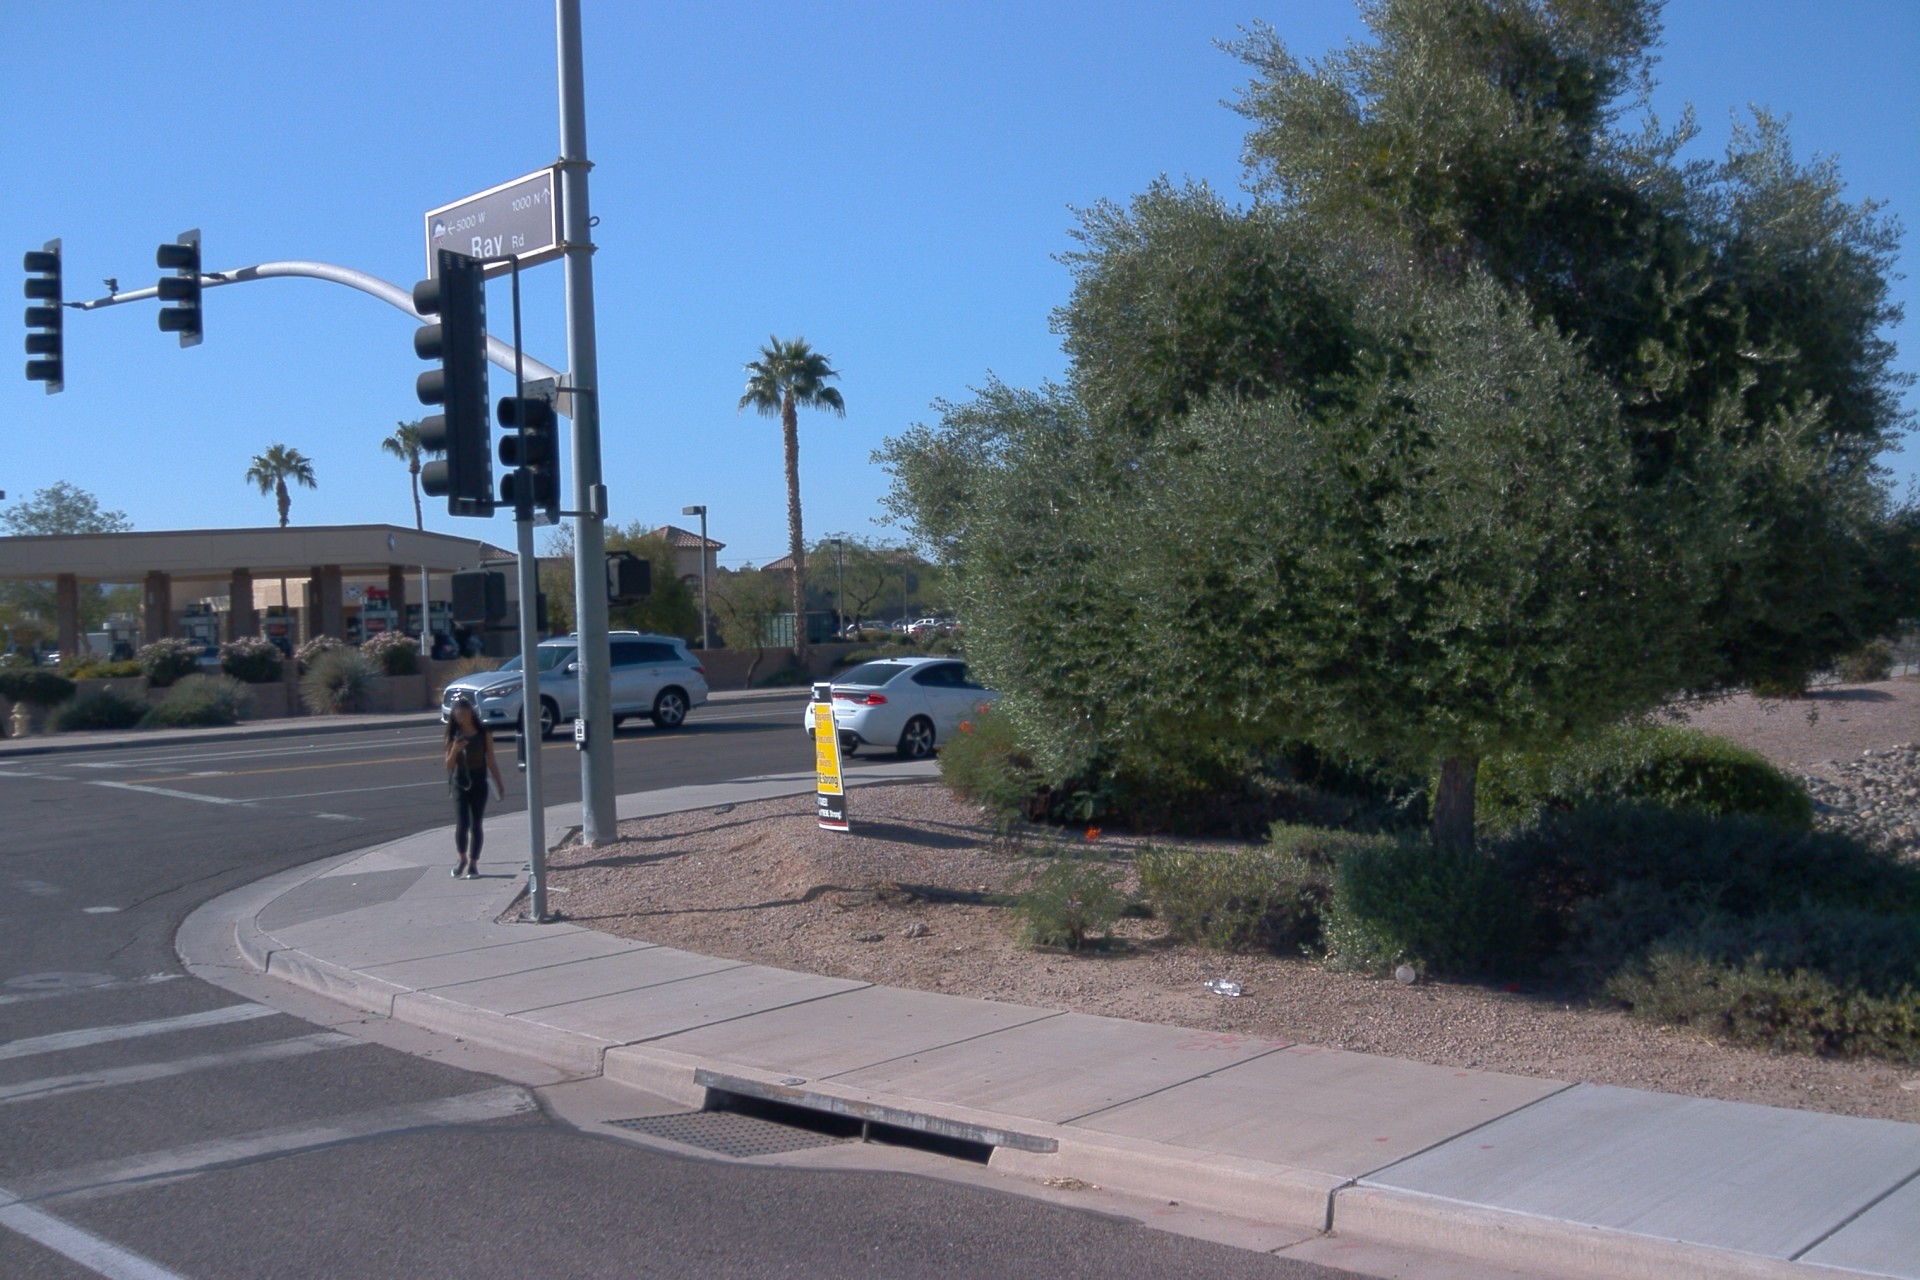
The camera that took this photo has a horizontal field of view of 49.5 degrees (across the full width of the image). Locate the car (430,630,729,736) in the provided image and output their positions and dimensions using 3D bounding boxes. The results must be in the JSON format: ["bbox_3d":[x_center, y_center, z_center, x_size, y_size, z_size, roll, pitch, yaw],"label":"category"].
[{"bbox_3d":[-6.765,0.753,37.457,2.081,1.780,5.044,-2,-1,42],"label":"car"}]

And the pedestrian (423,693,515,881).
[{"bbox_3d":[-4.310,1.272,18.333,0.668,1.590,0.903,-1,-1,-6],"label":"pedestrian"}]

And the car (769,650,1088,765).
[{"bbox_3d":[-0.410,0.992,31.879,2.101,1.620,4.742,-2,-1,45],"label":"car"}]
